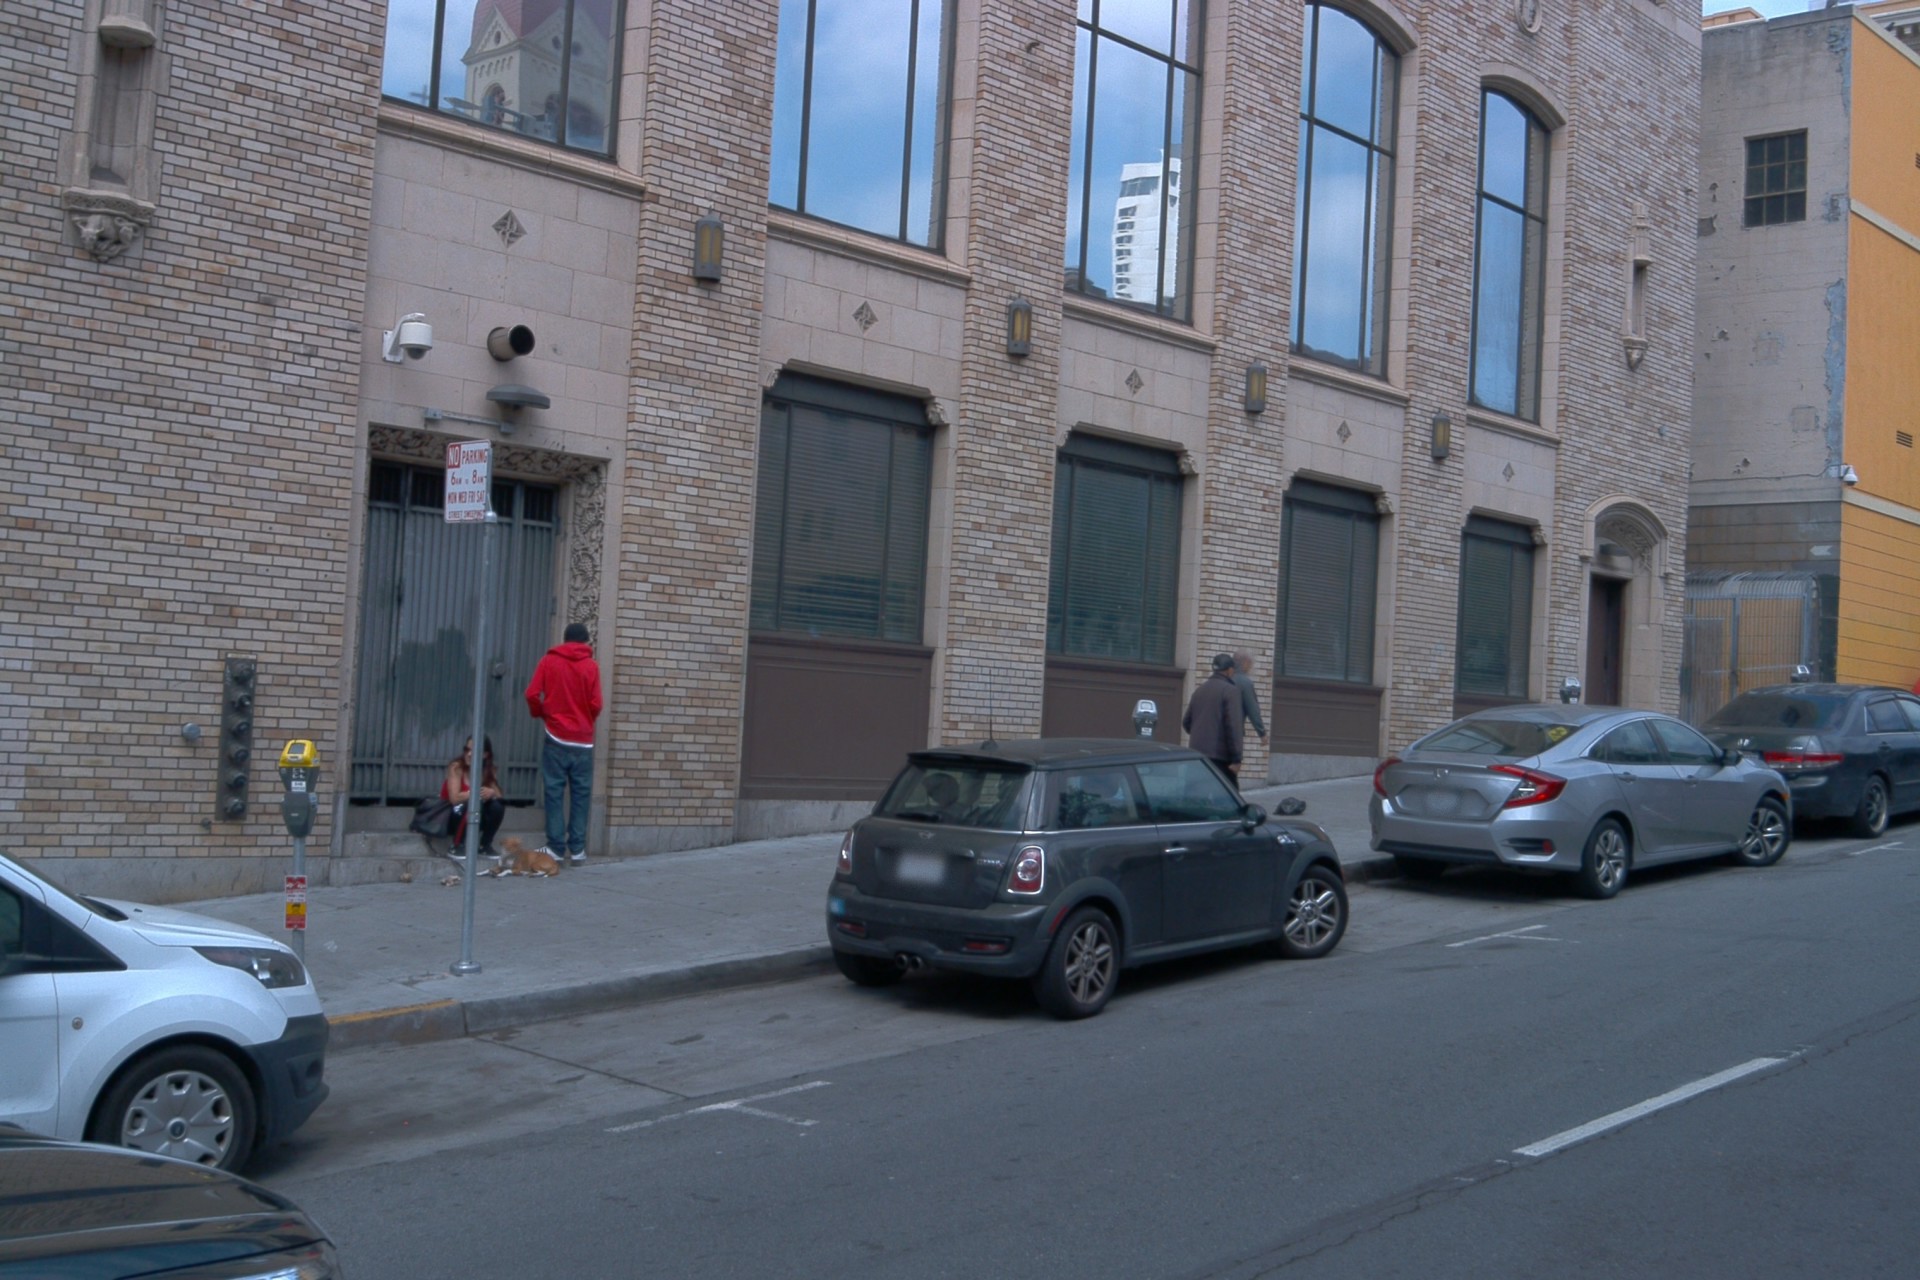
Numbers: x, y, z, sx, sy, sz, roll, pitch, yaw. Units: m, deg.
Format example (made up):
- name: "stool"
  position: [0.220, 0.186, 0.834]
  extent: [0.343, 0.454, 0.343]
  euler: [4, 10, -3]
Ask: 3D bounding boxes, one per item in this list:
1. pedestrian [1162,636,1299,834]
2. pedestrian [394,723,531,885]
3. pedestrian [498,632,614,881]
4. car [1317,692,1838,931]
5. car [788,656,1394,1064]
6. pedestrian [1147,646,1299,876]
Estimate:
- name: "pedestrian"
  position: [2.540, 0.863, 19.384]
  extent: [0.923, 1.780, 0.899]
  euler: [-1, 1, -44]
- name: "pedestrian"
  position: [-3.595, 1.169, 14.912]
  extent: [0.713, 1.080, 0.681]
  euler: [1, 1, 43]
- name: "pedestrian"
  position: [-3.031, 0.843, 15.445]
  extent: [0.786, 1.800, 0.728]
  euler: [0, 1, -16]
- name: "car"
  position: [5.212, 1.280, 17.047]
  extent: [4.714, 1.510, 2.106]
  euler: [-1, 1, -44]
- name: "car"
  position: [0.922, 1.132, 12.449]
  extent: [1.729, 1.980, 3.770]
  euler: [1, 1, 40]
- name: "pedestrian"
  position: [2.174, 0.964, 17.059]
  extent: [0.870, 1.810, 0.897]
  euler: [-1, 1, -43]
